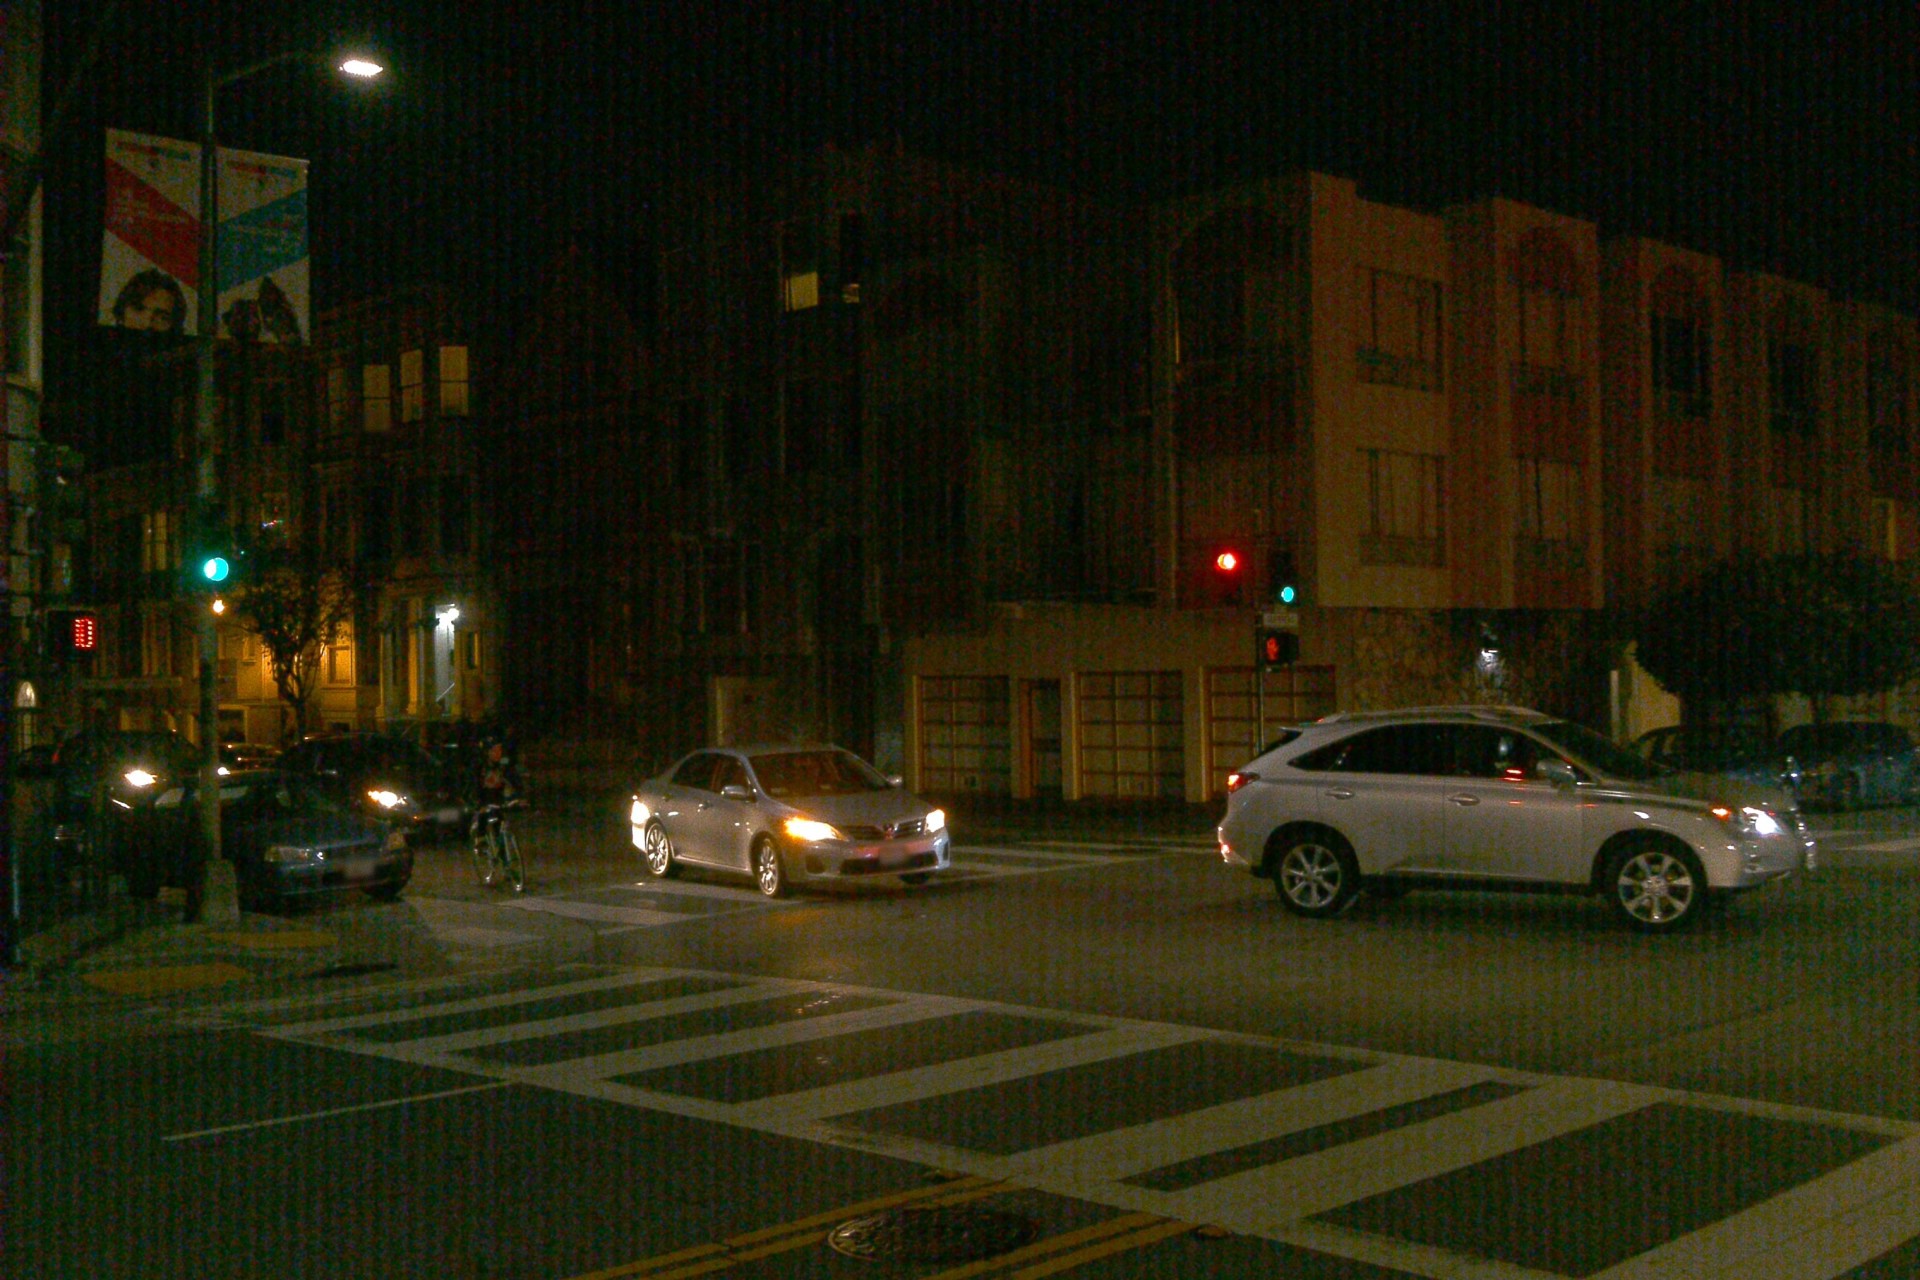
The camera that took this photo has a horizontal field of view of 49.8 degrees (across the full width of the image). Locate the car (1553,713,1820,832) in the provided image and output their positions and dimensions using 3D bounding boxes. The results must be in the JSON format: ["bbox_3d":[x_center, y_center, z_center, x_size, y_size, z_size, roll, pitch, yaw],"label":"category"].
[{"bbox_3d":[10.607,1.860,29.967,1.967,1.430,4.633,1,0,42],"label":"car"}]

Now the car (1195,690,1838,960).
[{"bbox_3d":[4.513,1.380,16.977,4.618,1.760,2.137,1,0,33],"label":"car"}]

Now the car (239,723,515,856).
[{"bbox_3d":[-8.259,2.022,29.006,2.021,1.480,4.495,1,0,-40],"label":"car"}]

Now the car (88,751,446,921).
[{"bbox_3d":[-7.499,2.014,22.147,1.946,1.350,4.278,1,0,-44],"label":"car"}]

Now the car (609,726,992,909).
[{"bbox_3d":[-1.780,1.742,21.508,2.123,1.450,4.464,1,0,-32],"label":"car"}]

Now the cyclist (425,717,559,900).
[{"bbox_3d":[-4.964,1.742,21.836,0.770,1.760,1.752,1,0,-34],"label":"cyclist"}]

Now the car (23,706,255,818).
[{"bbox_3d":[-13.834,1.982,34.667,2.128,1.560,4.553,1,0,-42],"label":"car"}]
